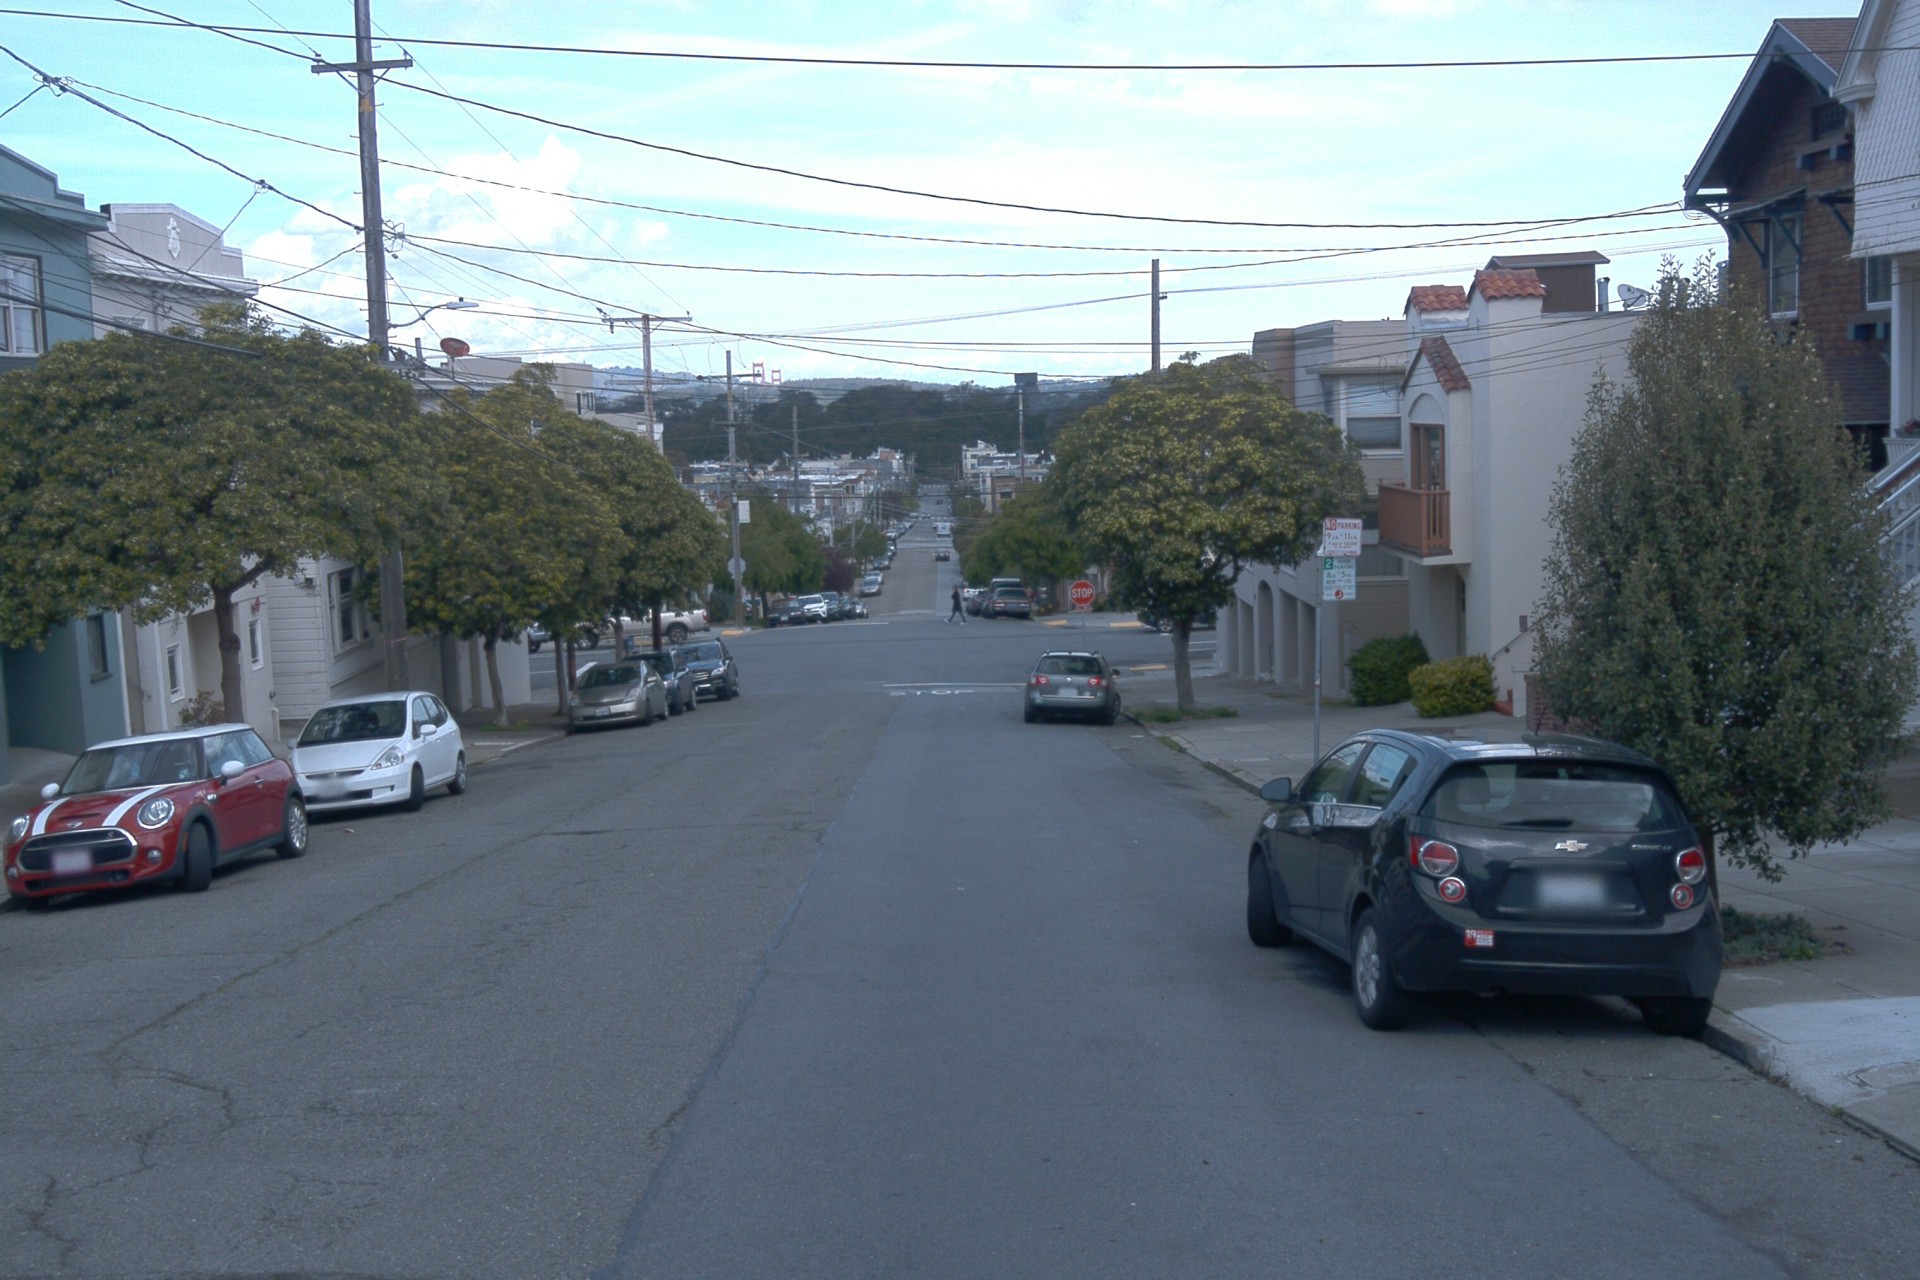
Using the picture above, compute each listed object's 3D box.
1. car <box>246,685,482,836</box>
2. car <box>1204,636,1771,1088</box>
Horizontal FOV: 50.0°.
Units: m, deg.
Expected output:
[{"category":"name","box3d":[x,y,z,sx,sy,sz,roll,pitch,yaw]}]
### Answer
[{"category":"car","box3d":[-7.574,1.477,26.591,1.947,1.710,4.057,0,0,-1]},{"category":"car","box3d":[2.764,1.045,11.955,1.978,2.130,4.417,0,0,-3]}]
